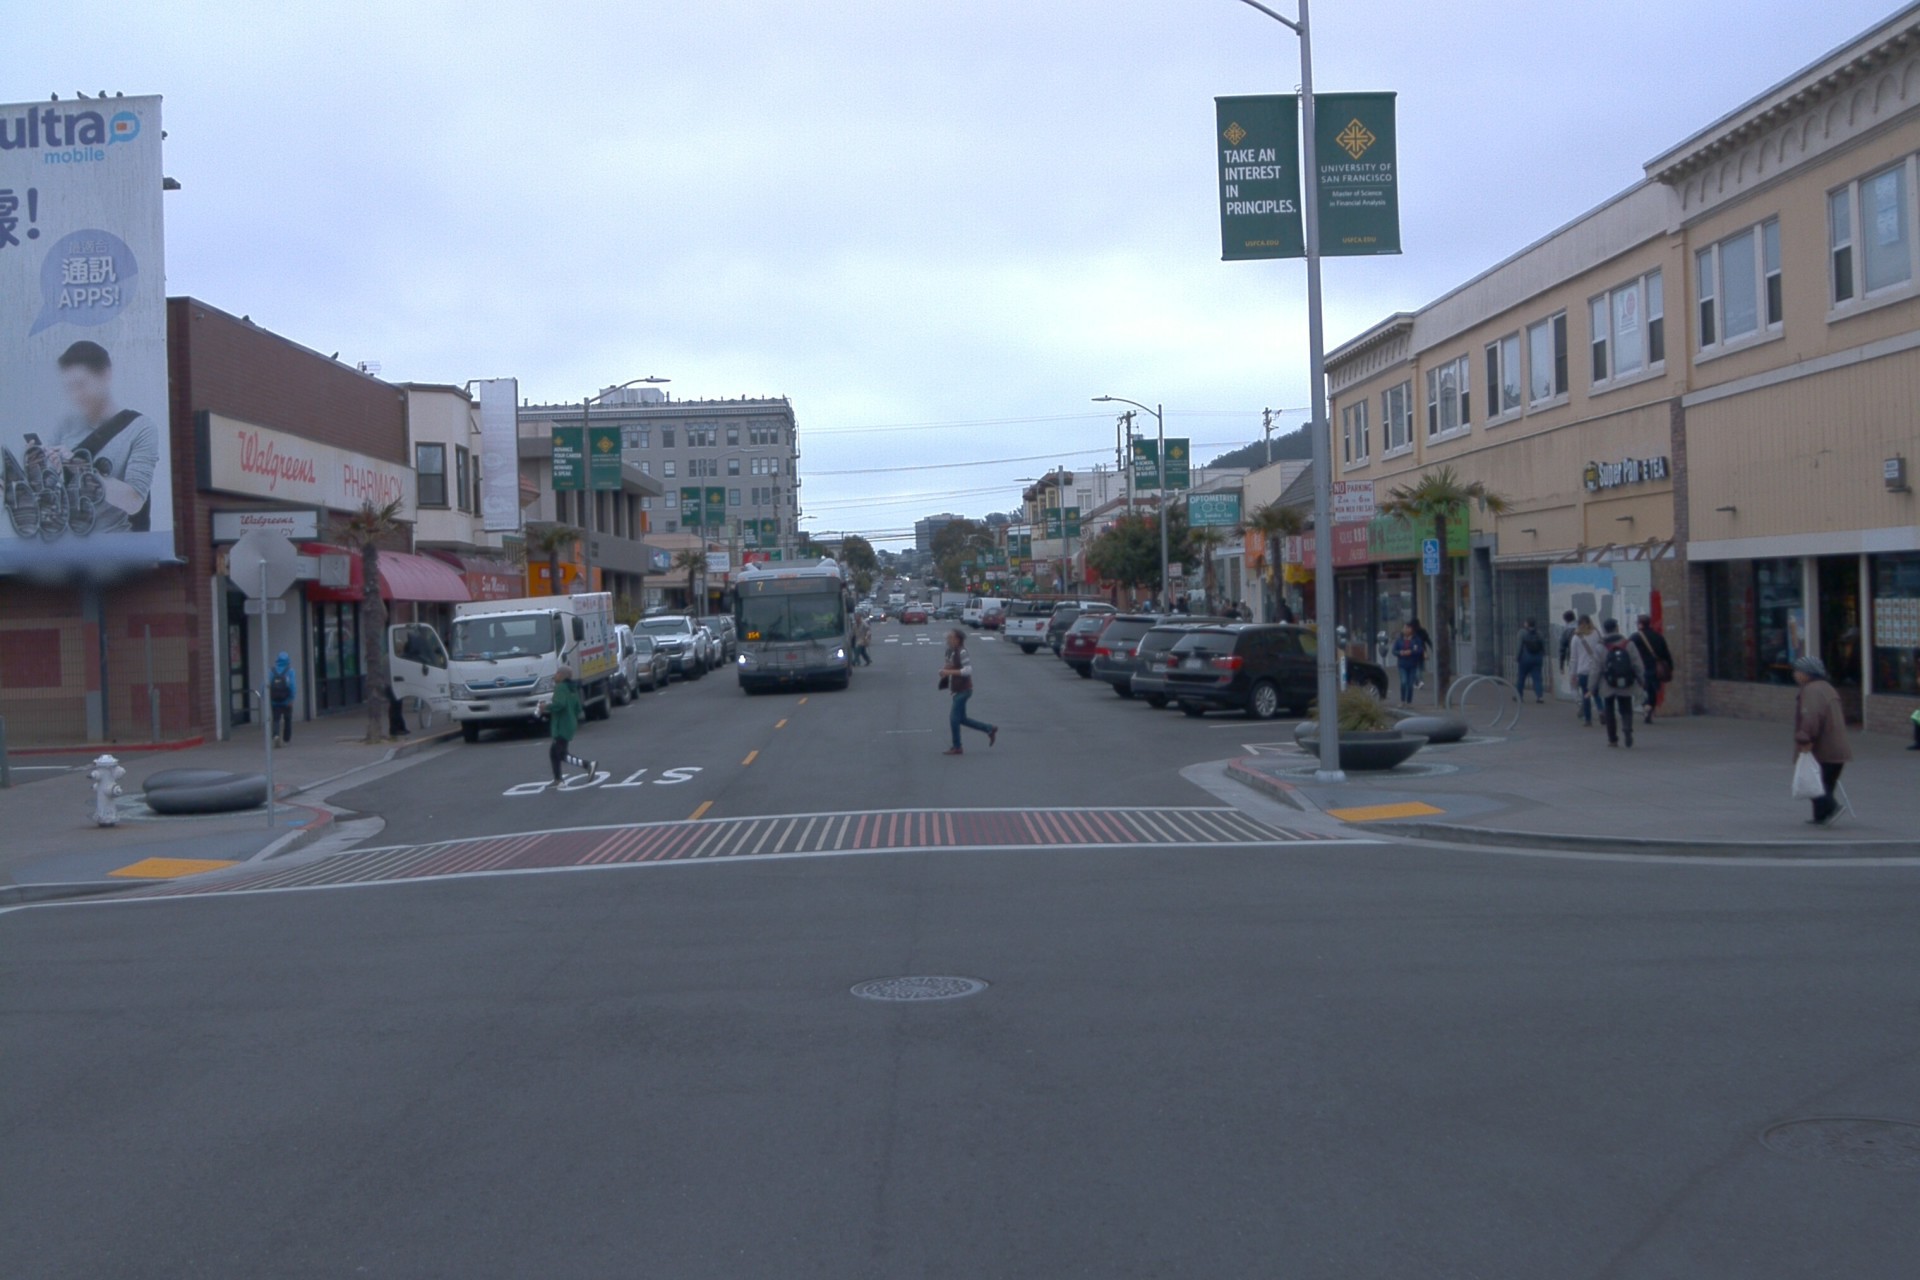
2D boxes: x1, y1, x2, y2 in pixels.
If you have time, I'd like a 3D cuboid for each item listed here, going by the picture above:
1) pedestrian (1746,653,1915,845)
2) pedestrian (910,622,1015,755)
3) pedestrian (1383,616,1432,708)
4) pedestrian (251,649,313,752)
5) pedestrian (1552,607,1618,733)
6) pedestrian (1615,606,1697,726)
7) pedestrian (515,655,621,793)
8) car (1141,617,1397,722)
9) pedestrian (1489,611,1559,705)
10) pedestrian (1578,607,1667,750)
[{"bbox_3d":[7.099,0.859,16.776,1.065,1.477,0.834,-1,1,-35],"label":"pedestrian"},{"bbox_3d":[0.032,0.664,28.959,1.259,1.820,0.886,-1,1,-17],"label":"pedestrian"},{"bbox_3d":[7.957,0.384,36.582,0.748,1.598,0.777,0,1,5],"label":"pedestrian"},{"bbox_3d":[-11.466,1.013,34.801,0.819,1.710,0.783,0,1,-3],"label":"pedestrian"},{"bbox_3d":[9.218,0.430,30.363,0.711,1.824,0.916,0,1,2],"label":"pedestrian"},{"bbox_3d":[10.294,0.372,30.439,0.952,1.742,0.808,0,1,2],"label":"pedestrian"},{"bbox_3d":[-4.988,1.057,26.201,1.105,1.713,0.766,0,1,12],"label":"pedestrian"},{"bbox_3d":[5.582,0.479,36.913,4.510,1.740,2.044,-1,1,-39],"label":"car"},{"bbox_3d":[10.046,0.307,36.669,1.000,1.650,1.000,0,1,2],"label":"pedestrian"},{"bbox_3d":[8.351,0.470,25.951,0.925,1.770,0.948,0,1,9],"label":"pedestrian"}]
